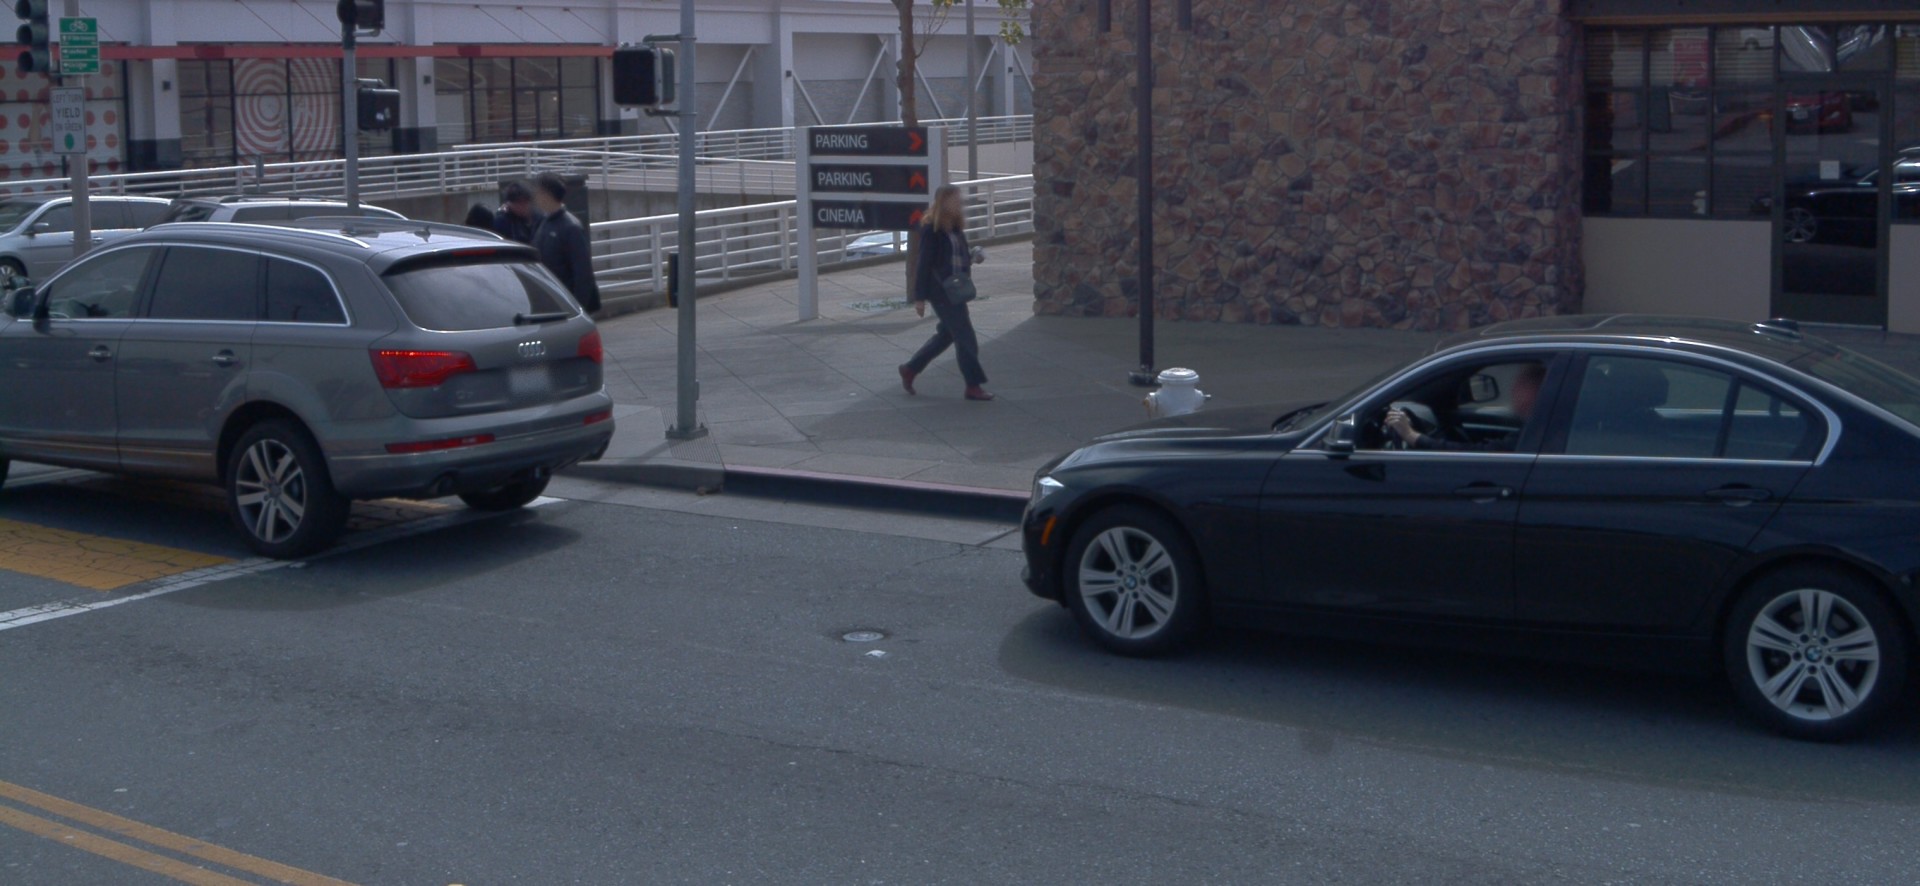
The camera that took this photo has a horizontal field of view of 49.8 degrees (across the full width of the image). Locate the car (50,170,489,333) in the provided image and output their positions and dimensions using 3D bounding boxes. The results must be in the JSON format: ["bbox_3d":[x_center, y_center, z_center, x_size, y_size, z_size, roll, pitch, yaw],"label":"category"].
[{"bbox_3d":[-9.130,-2.632,27.738,2.223,1.961,5.187,3,7,40],"label":"car"}]

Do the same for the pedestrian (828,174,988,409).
[{"bbox_3d":[-0.378,-1.142,15.319,0.930,1.676,0.768,1,2,25],"label":"pedestrian"}]

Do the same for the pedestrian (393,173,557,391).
[{"bbox_3d":[-4.009,-1.349,17.111,1.022,1.746,0.795,1,2,25],"label":"pedestrian"}]

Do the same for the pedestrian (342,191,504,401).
[{"bbox_3d":[-4.303,-1.202,16.584,0.991,1.627,0.742,1,2,23],"label":"pedestrian"}]

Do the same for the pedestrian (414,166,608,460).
[{"bbox_3d":[-3.121,-0.936,14.406,0.863,1.956,0.977,1,3,32],"label":"pedestrian"}]
